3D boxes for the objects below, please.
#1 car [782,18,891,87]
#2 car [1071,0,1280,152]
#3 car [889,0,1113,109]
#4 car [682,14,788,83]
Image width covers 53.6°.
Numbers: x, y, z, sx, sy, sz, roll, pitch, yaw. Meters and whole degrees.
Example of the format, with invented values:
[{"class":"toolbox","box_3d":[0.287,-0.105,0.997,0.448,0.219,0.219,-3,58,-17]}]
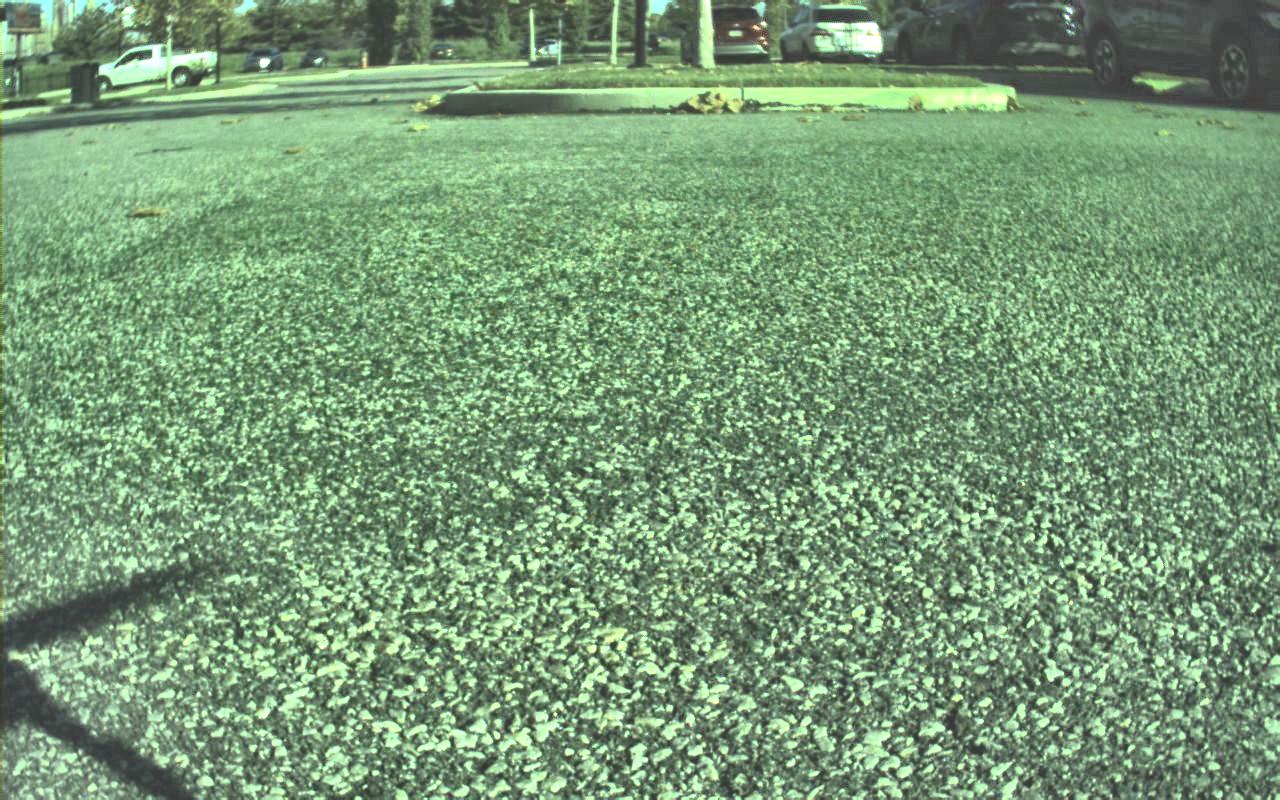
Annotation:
[{"class":"car","box_3d":[5.140,-9.265,32.477,2.004,1.710,4.637,-2,17,-3]},{"class":"car","box_3d":[5.897,-3.458,10.721,1.930,1.567,4.485,-2,17,-4]},{"class":"car","box_3d":[5.515,-5.554,18.618,1.984,1.675,4.666,-3,17,-6]},{"class":"car","box_3d":[2.396,-9.214,32.159,1.987,1.719,4.583,-3,17,-5]}]
